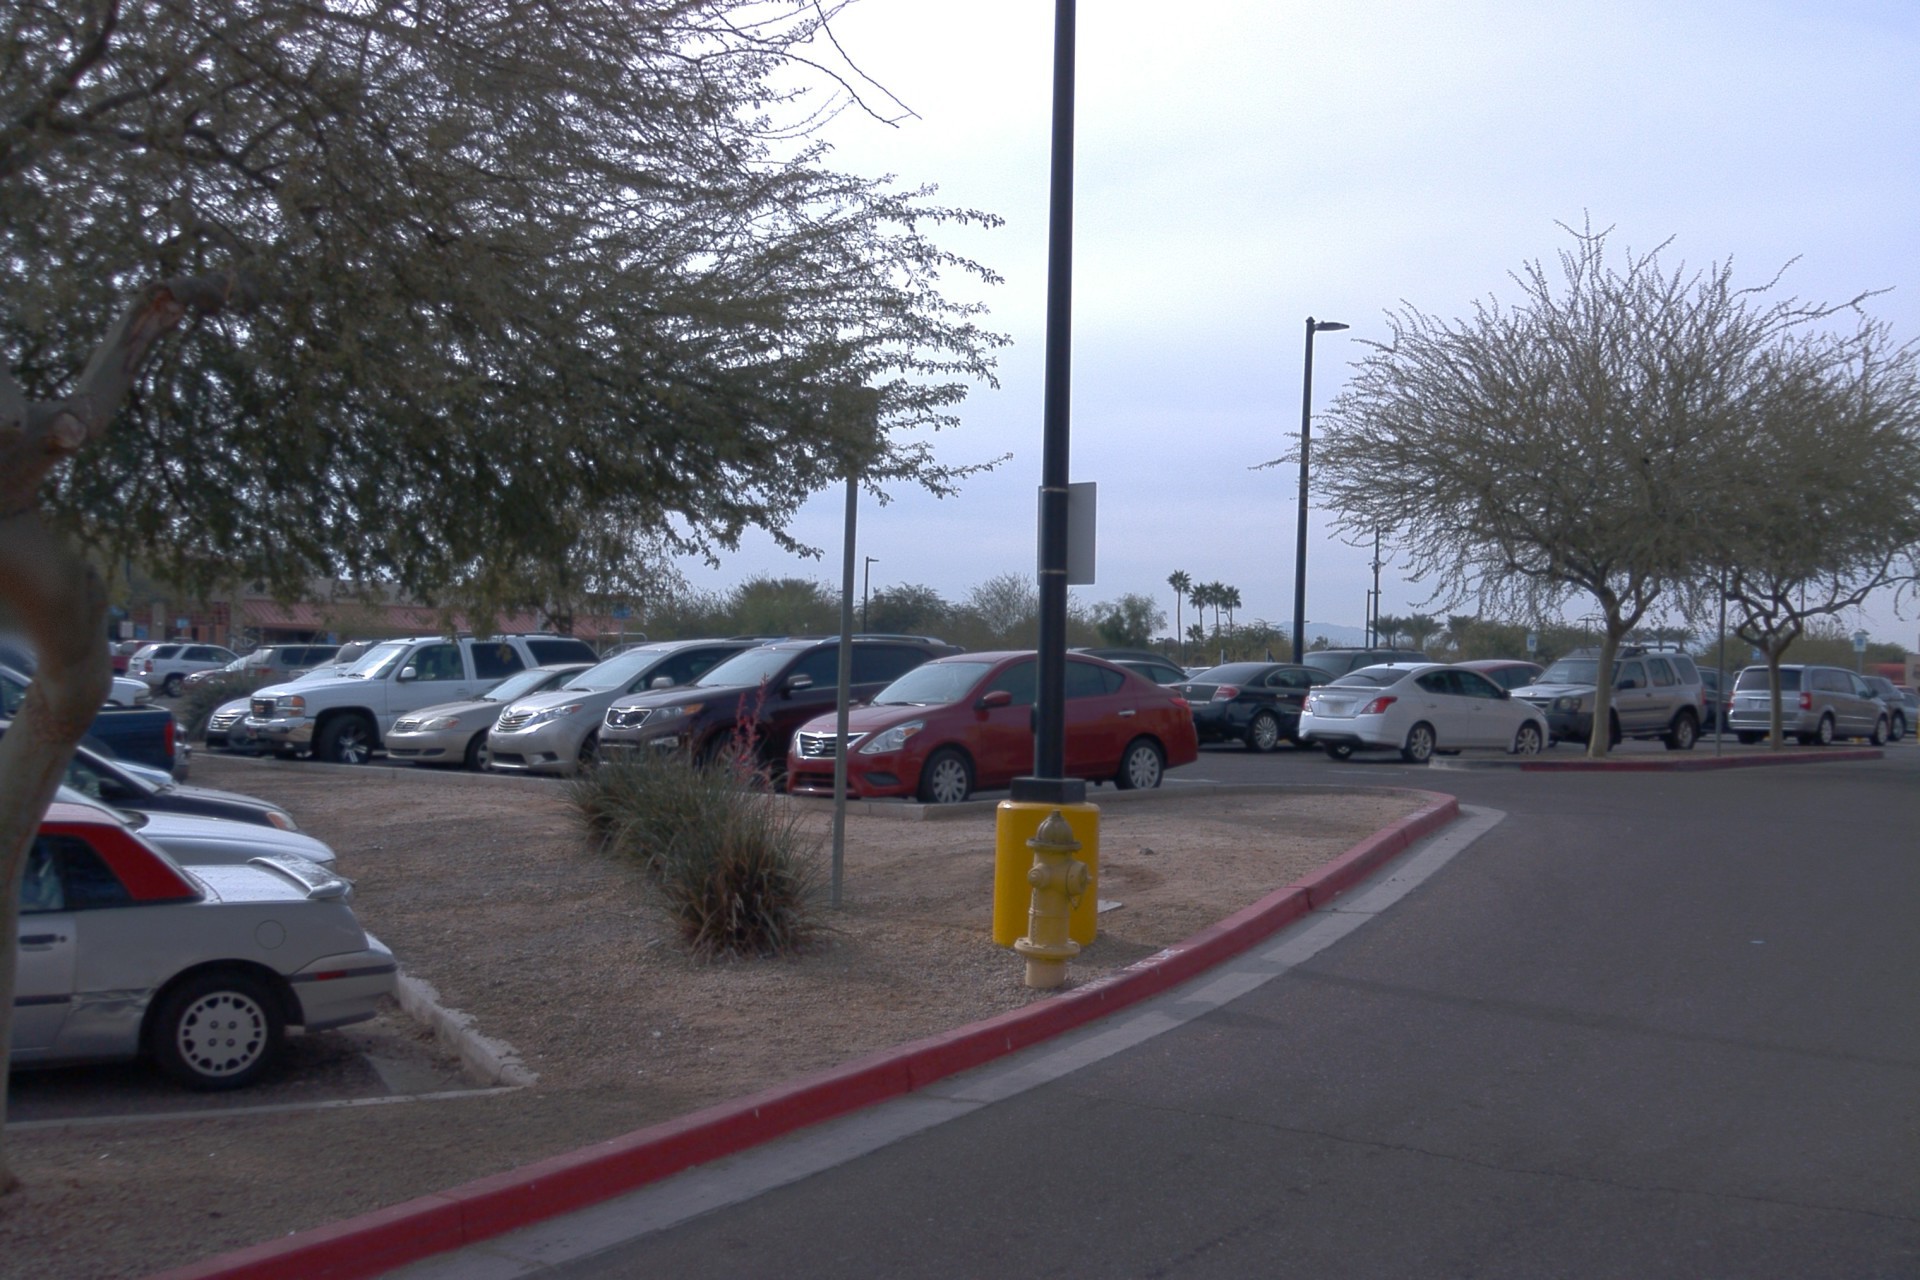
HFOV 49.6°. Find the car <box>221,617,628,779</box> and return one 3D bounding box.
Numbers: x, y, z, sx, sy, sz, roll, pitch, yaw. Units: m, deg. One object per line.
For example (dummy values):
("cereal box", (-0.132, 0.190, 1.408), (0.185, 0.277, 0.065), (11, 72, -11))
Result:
("car", (-7.461, 0.800, 29.159), (4.964, 2.090, 2.378), (2, -1, -38))

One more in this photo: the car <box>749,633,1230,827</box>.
("car", (0.393, 0.827, 20.274), (4.603, 1.680, 1.958), (2, -1, -43))

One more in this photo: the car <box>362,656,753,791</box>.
("car", (-5.225, 1.062, 27.204), (4.587, 1.610, 2.029), (2, -1, -36))

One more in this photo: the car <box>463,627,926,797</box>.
("car", (-3.160, 0.844, 25.270), (5.125, 1.870, 2.257), (2, -1, -37))

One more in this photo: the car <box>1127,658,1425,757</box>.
("car", (5.298, 1.104, 34.414), (4.912, 1.500, 2.131), (2, -1, -40))

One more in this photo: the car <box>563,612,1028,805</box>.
("car", (-1.753, 0.730, 23.172), (4.724, 1.930, 2.278), (2, -1, -42))

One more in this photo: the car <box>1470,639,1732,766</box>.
("car", (10.868, 1.038, 35.008), (4.785, 1.980, 2.063), (2, -1, -42))

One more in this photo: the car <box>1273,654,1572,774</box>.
("car", (7.133, 1.106, 31.786), (4.548, 1.680, 2.161), (2, -1, -41))

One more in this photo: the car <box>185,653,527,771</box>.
("car", (-9.158, 1.073, 31.692), (4.539, 1.660, 2.065), (2, -1, -44))
